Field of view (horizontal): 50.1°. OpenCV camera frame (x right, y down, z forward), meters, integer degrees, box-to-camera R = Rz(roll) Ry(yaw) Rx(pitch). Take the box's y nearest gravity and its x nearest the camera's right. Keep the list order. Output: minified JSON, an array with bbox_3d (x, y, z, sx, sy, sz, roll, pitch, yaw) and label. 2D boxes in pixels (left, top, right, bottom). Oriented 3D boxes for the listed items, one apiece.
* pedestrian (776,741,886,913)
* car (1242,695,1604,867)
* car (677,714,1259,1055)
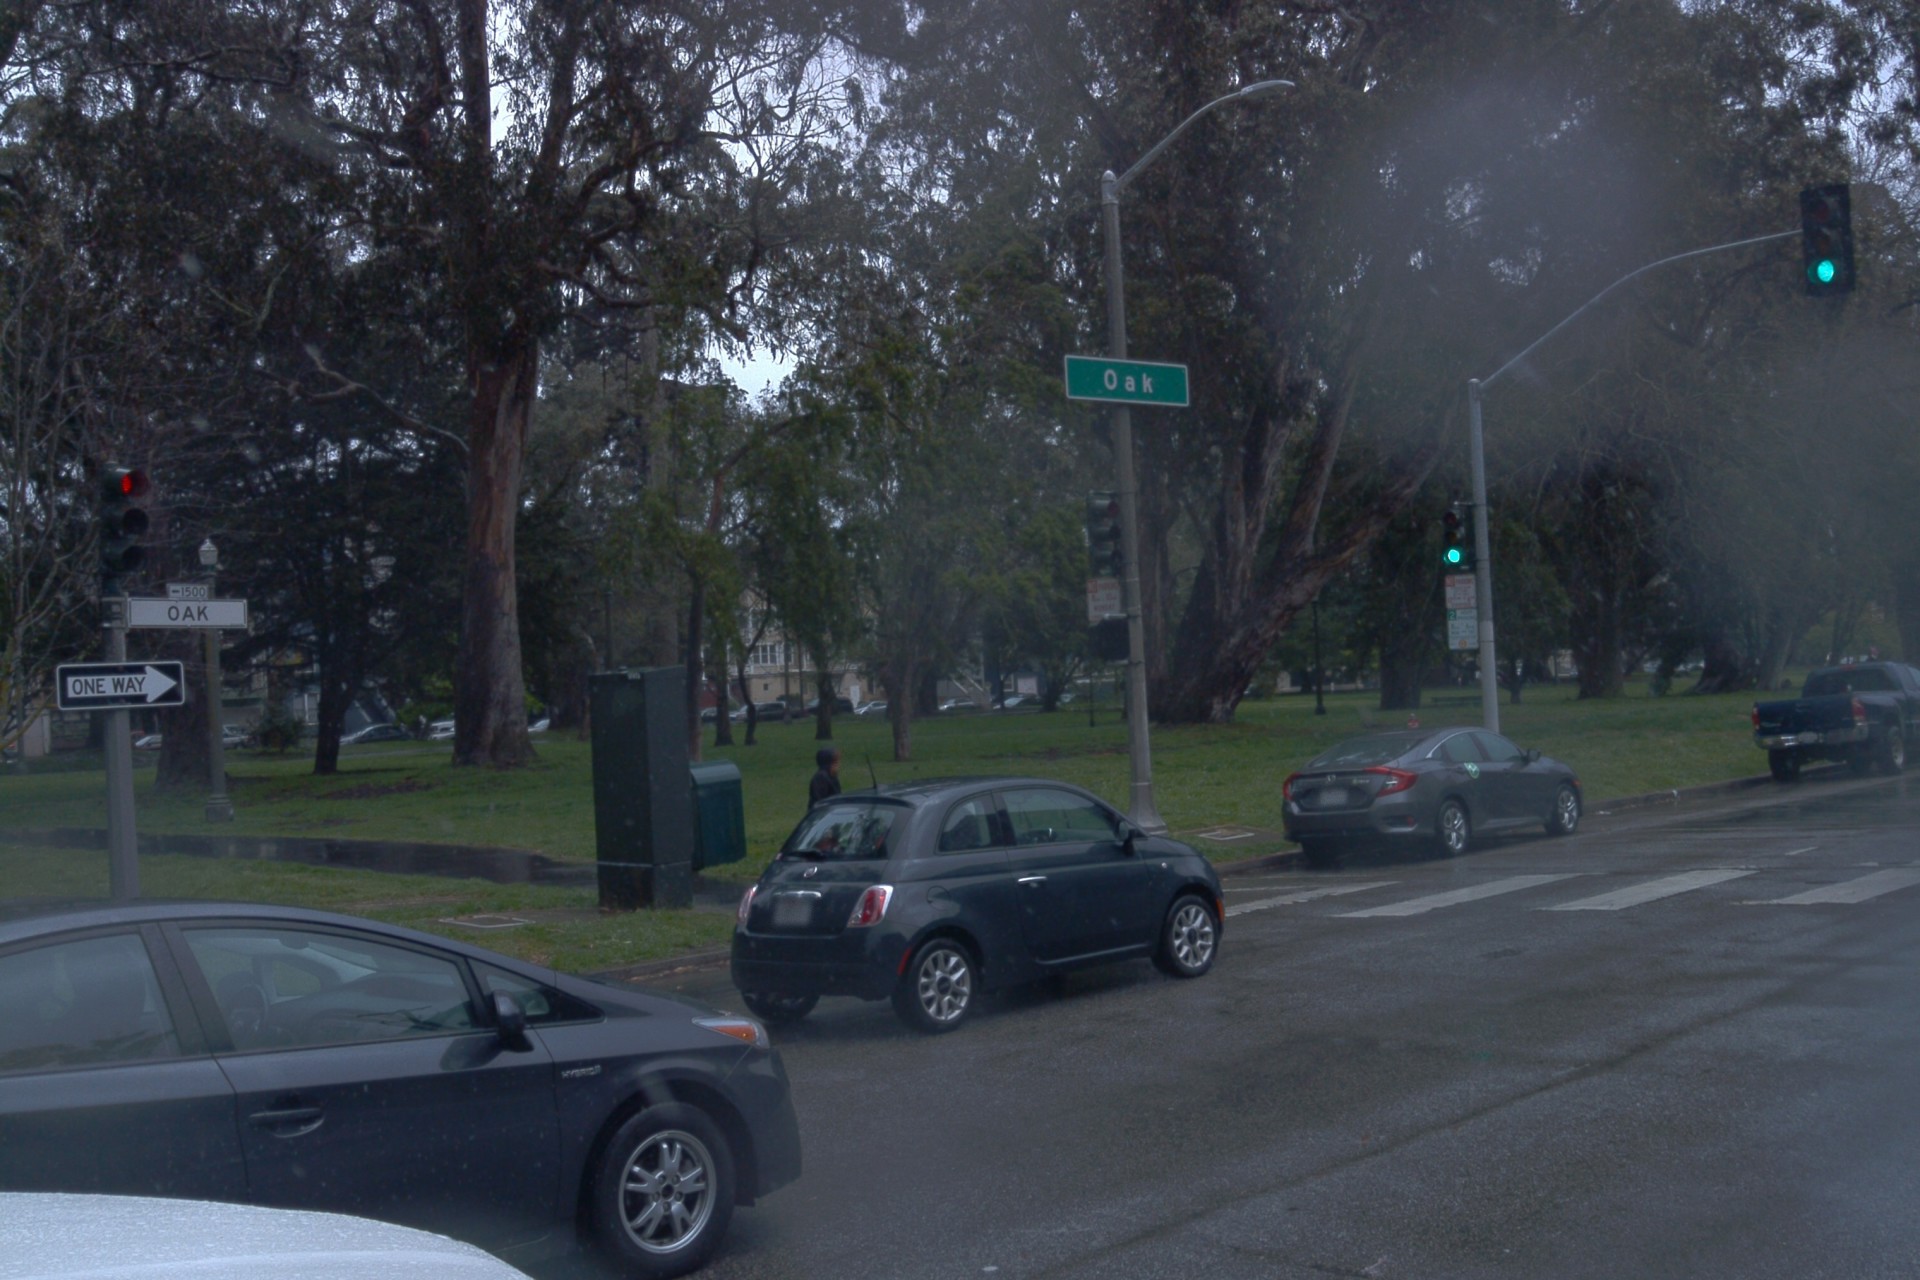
[{"bbox_3d":[-1.245,1.792,19.924,0.723,1.560,0.834,1,2,29],"label":"pedestrian"},{"bbox_3d":[5.347,1.499,23.319,2.031,1.540,4.554,1,2,42],"label":"car"},{"bbox_3d":[0.139,1.447,13.445,3.581,1.715,1.794,-1,2,-44],"label":"car"}]
